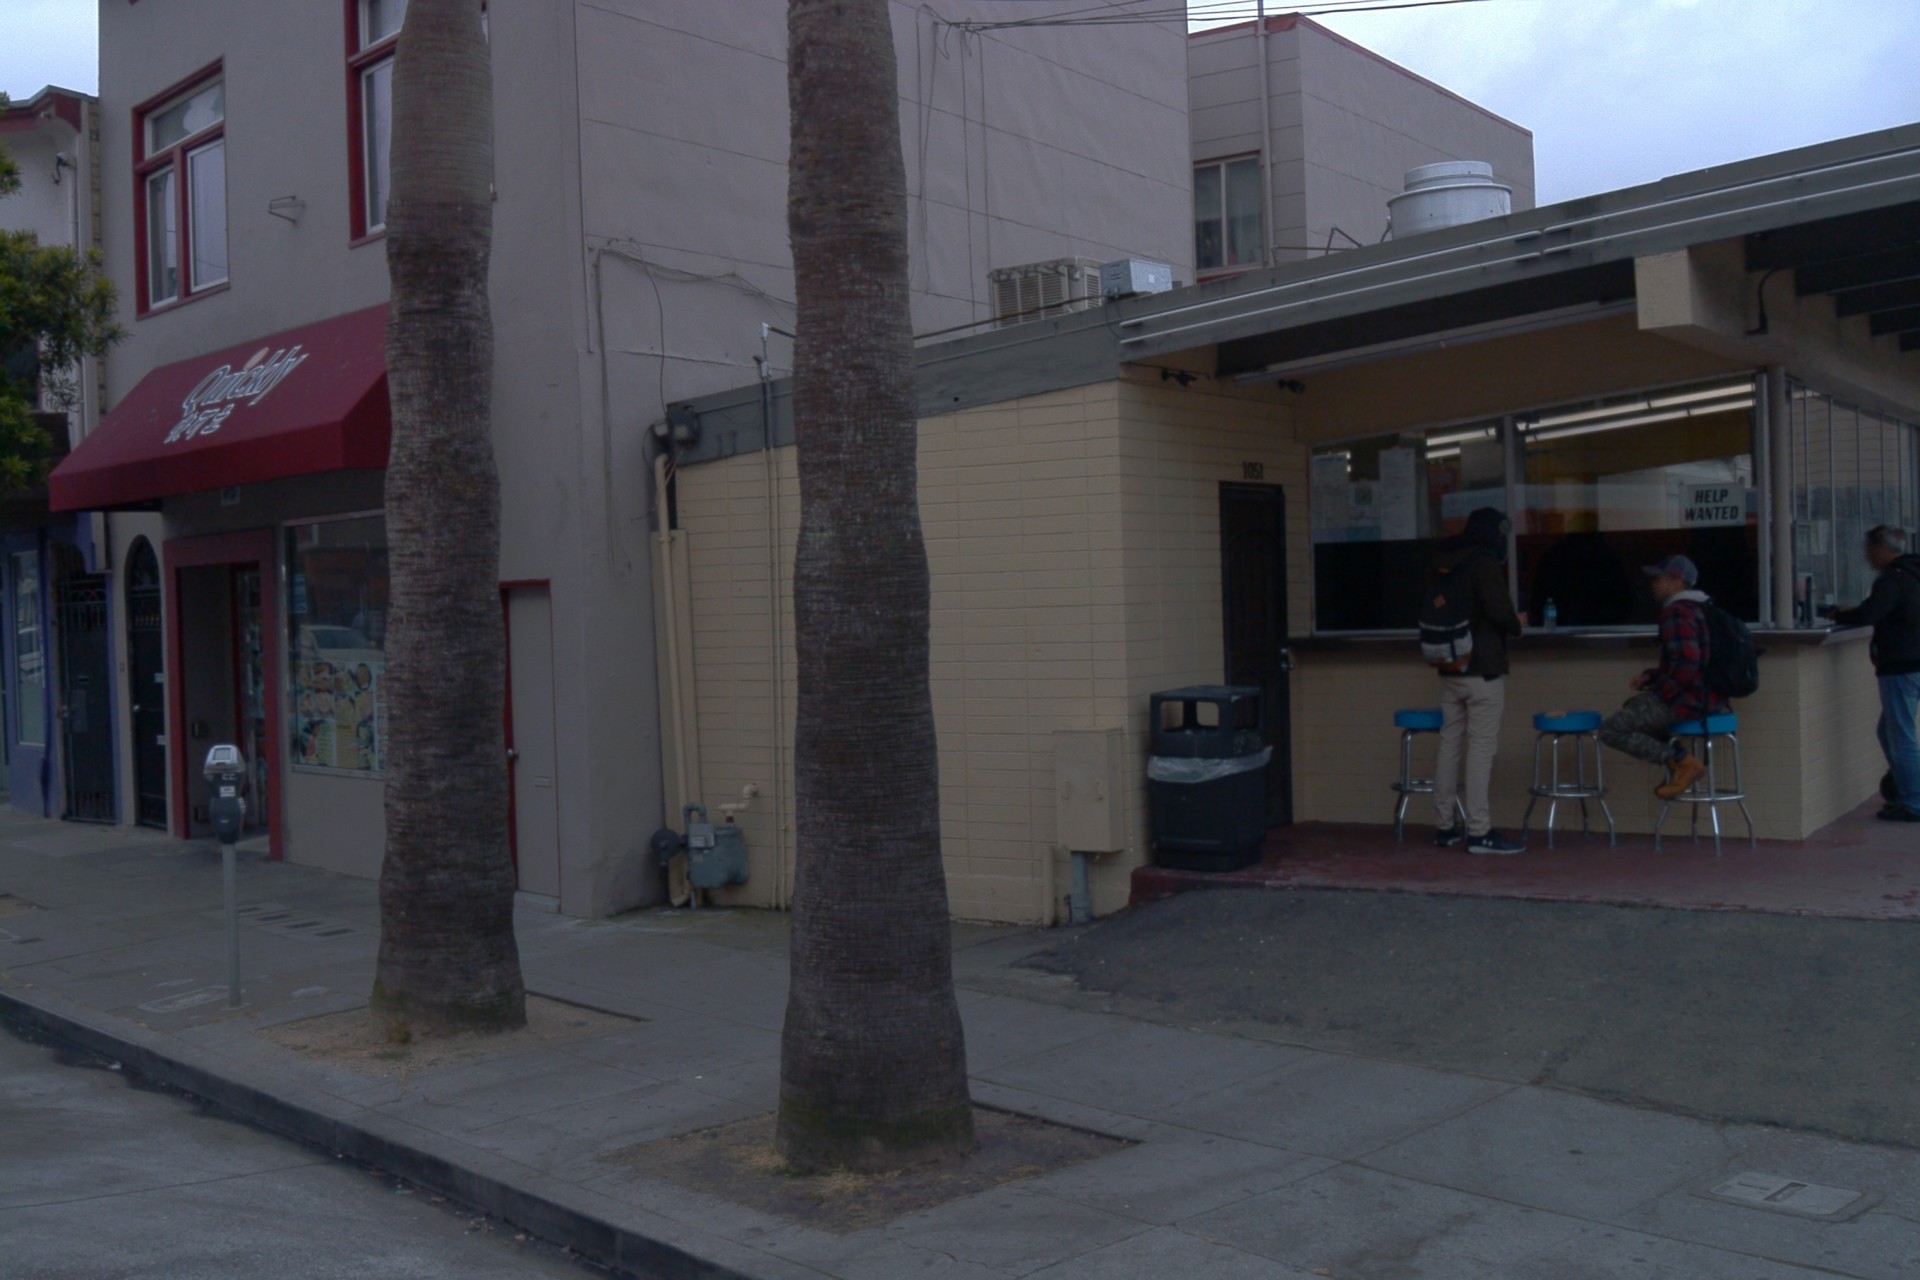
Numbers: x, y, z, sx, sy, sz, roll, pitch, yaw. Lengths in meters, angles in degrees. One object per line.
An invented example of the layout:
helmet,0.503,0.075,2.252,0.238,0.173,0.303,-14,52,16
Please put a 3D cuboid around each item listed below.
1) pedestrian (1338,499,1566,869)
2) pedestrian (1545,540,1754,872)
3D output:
pedestrian,2.759,0.229,11.605,0.826,1.970,0.945,-1,1,-44
pedestrian,3.753,0.335,11.236,0.863,1.710,0.815,0,1,37
